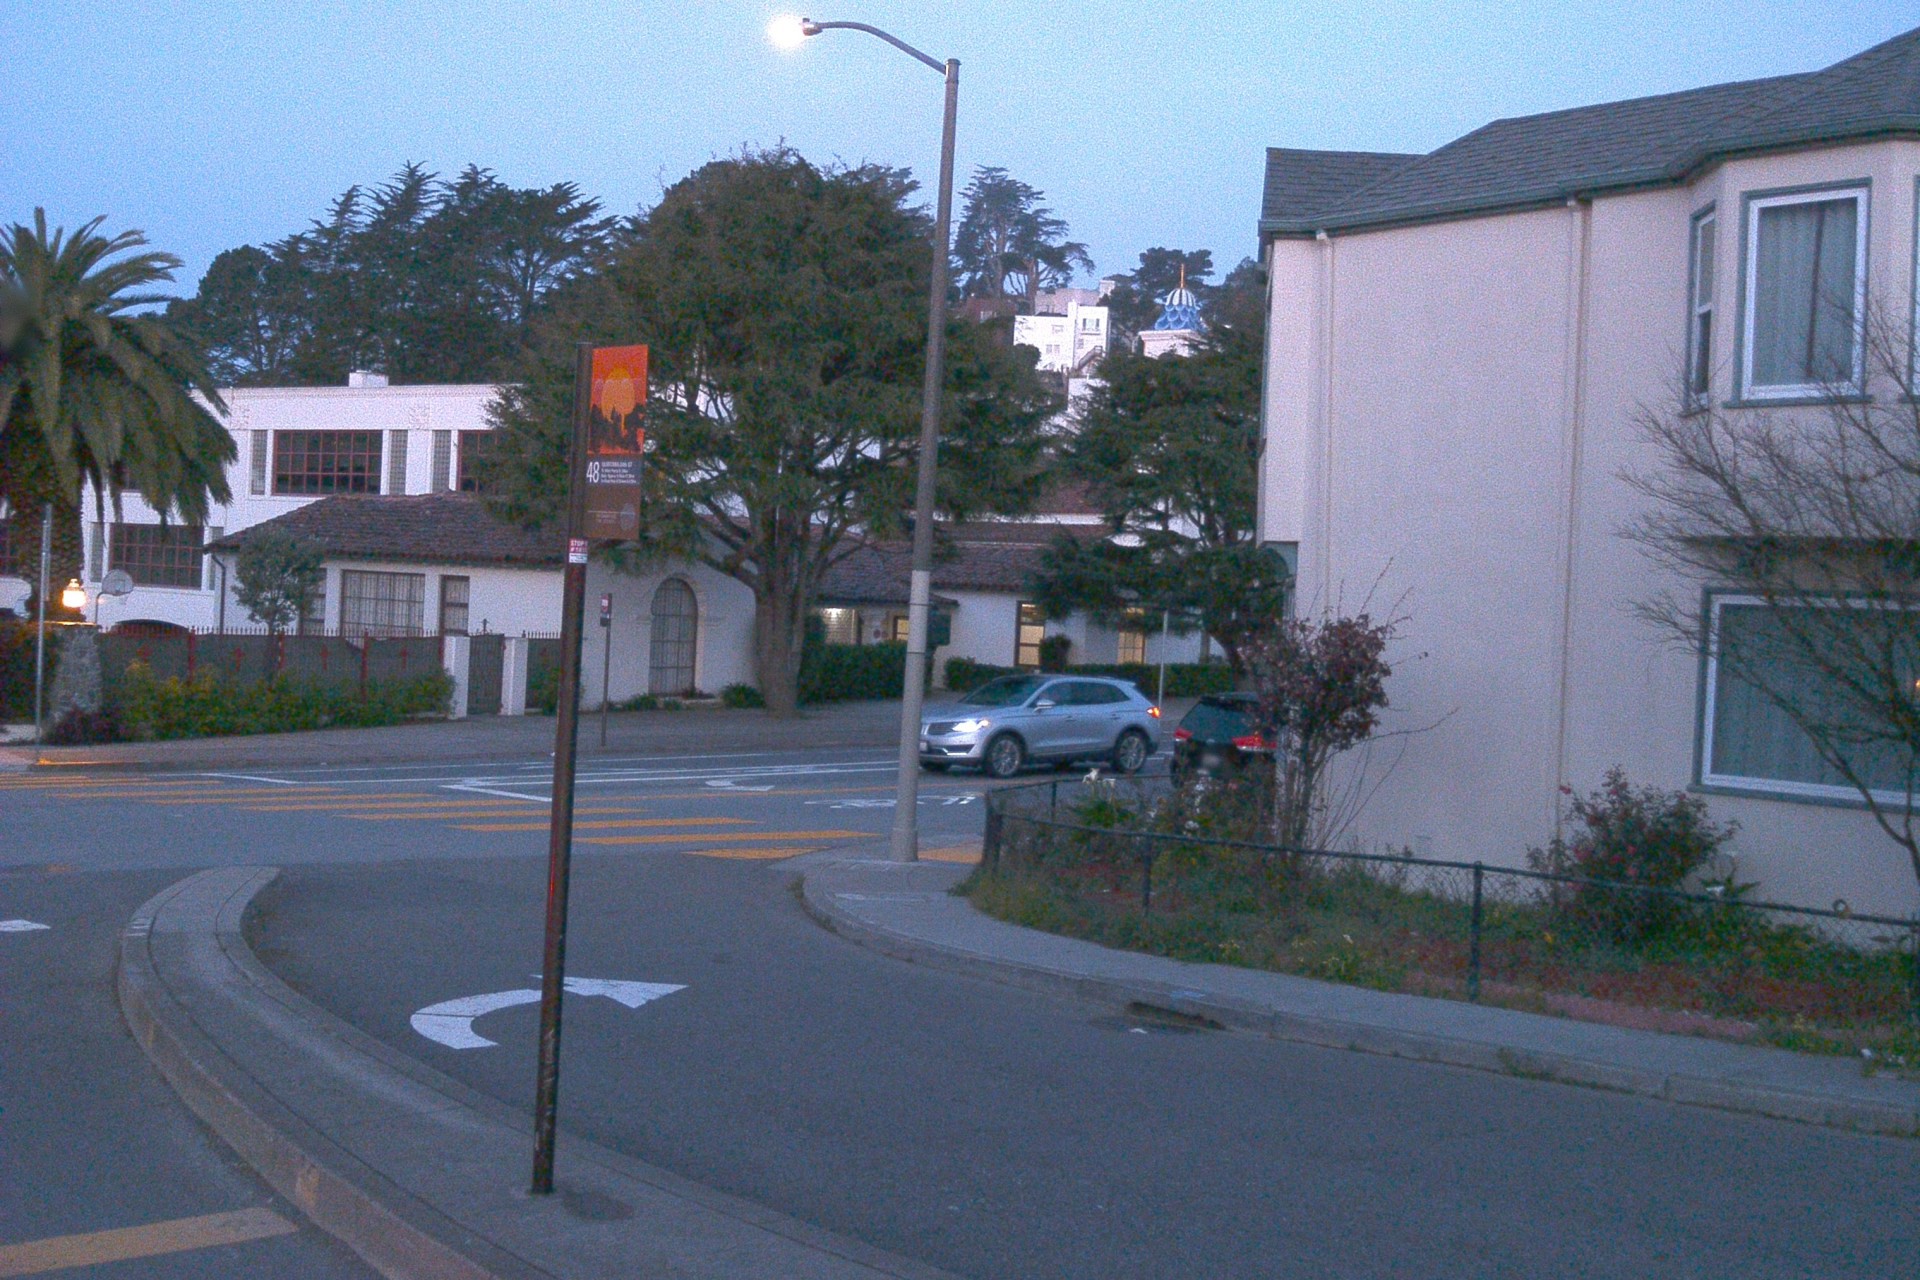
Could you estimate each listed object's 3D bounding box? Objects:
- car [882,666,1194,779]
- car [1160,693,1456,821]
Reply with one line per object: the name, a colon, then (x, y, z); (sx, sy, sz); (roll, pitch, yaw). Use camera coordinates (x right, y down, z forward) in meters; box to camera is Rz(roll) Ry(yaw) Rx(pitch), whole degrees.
car: (1.359, 1.322, 35.061); (5.027, 1.730, 2.150); (1, 0, -39)
car: (5.027, 1.626, 30.201); (3.819, 1.660, 2.058); (1, 0, -34)
